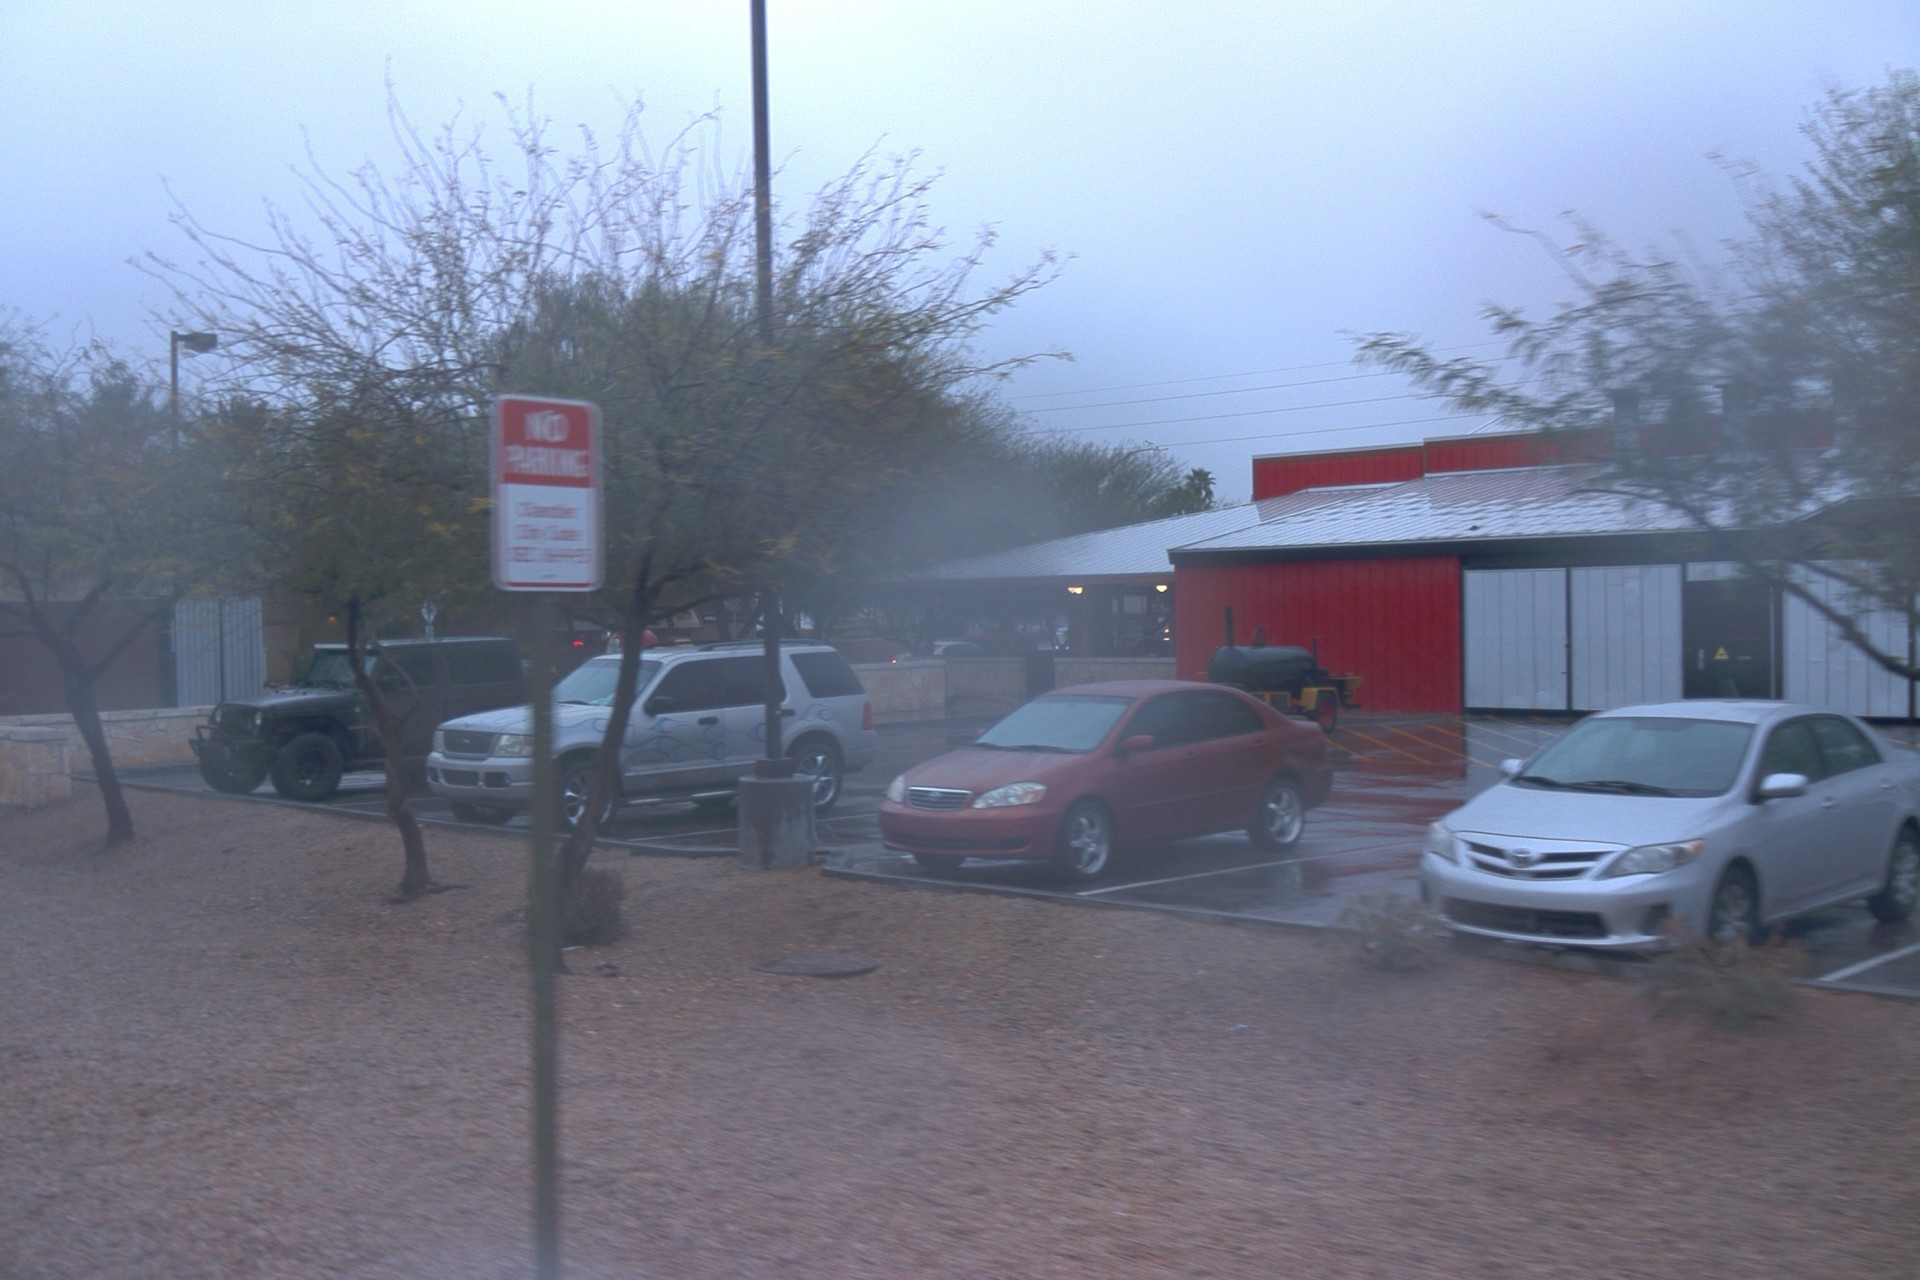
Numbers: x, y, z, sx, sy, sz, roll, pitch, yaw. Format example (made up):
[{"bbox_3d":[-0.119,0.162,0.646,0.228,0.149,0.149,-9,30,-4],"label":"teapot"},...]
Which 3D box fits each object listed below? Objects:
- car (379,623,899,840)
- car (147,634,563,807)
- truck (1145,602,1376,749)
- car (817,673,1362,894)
[{"bbox_3d":[-3.151,0.851,21.217,2.244,1.950,4.850,0,-1,45],"label":"car"},{"bbox_3d":[-7.184,0.901,25.026,2.152,1.890,4.296,0,-1,43],"label":"car"},{"bbox_3d":[4.749,0.542,32.526,1.721,2.160,3.931,0,0,41],"label":"truck"},{"bbox_3d":[1.190,1.063,17.244,2.049,1.560,4.510,0,-1,45],"label":"car"}]
